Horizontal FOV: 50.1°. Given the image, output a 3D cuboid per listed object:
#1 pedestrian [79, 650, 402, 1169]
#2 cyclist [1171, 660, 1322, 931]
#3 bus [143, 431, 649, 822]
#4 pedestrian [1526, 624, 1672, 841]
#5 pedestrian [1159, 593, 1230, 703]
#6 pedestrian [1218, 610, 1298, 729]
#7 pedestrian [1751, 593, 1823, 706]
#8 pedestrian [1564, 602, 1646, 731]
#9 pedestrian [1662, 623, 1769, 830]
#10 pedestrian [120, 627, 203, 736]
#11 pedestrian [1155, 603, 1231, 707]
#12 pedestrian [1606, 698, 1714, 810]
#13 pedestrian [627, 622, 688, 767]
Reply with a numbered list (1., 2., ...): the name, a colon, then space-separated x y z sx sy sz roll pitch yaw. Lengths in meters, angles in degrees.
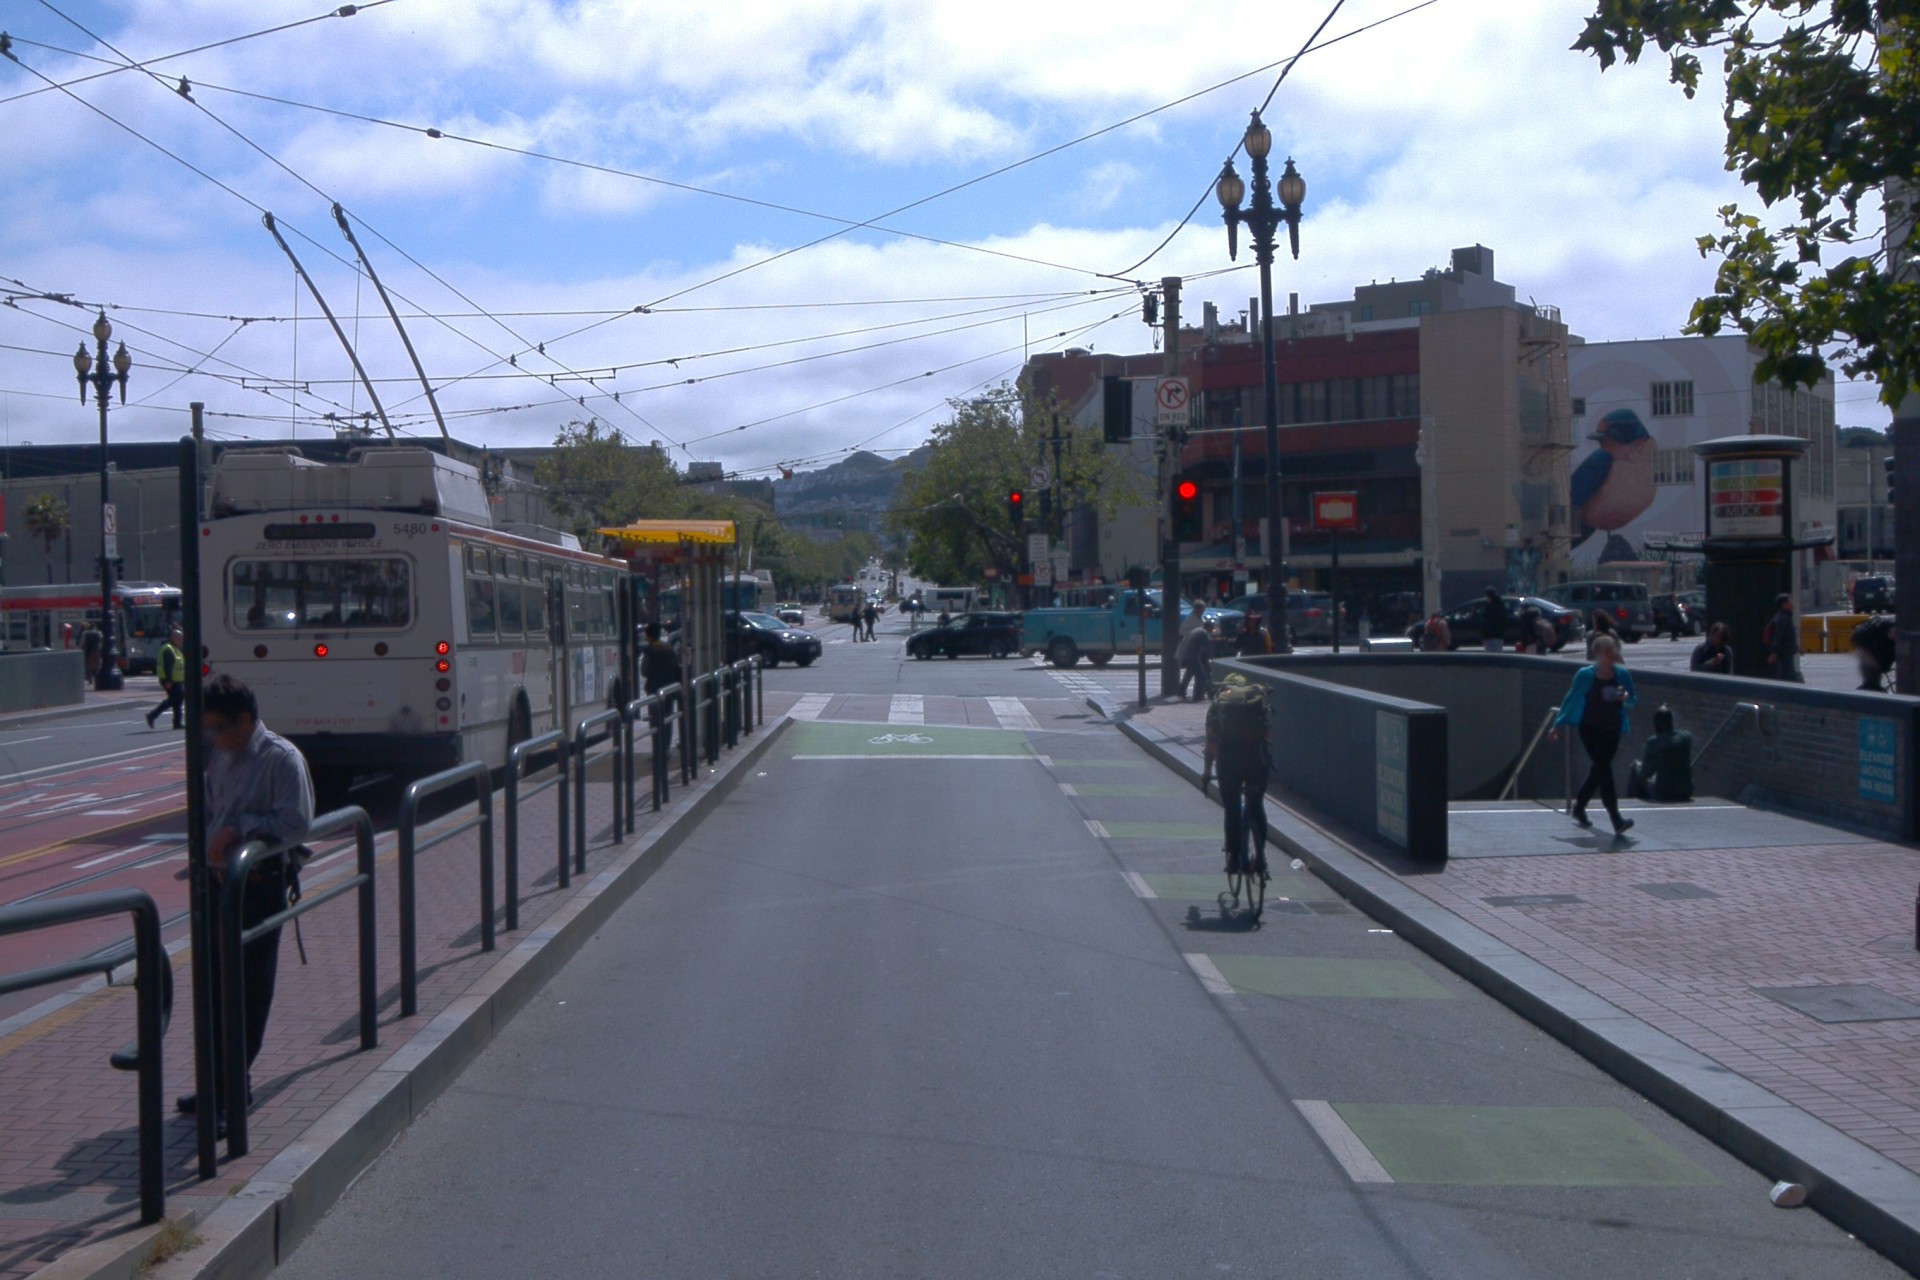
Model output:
1. pedestrian: -2.638 0.922 7.556 0.808 1.750 0.798 0 1 37
2. cyclist: 2.004 1.047 14.618 0.807 1.770 1.802 0 1 0
3. bus: -6.232 -0.201 25.458 3.070 3.670 12.173 0 1 -1
4. pedestrian: 5.316 0.744 17.153 0.749 1.740 1.054 0 1 -11
5. pedestrian: 4.249 0.131 37.127 1.058 1.960 1.084 0 1 19
6. pedestrian: 4.462 0.431 30.839 1.045 1.750 0.818 0 1 -1
7. pedestrian: 12.458 0.139 30.953 0.895 1.670 0.841 0 1 30
8. pedestrian: 8.868 0.349 28.283 0.755 1.740 0.858 0 1 -11
9. pedestrian: 8.218 0.922 22.385 0.779 2.200 0.956 0 1 -2
10. pedestrian: -13.580 0.692 34.994 1.092 1.828 0.878 0 1 -4
11. pedestrian: 4.158 0.263 36.592 1.083 1.820 0.884 0 1 30
12. pedestrian: 6.641 1.068 19.547 0.703 1.000 0.902 0 1 -1
13. pedestrian: -3.577 0.635 24.348 0.667 1.680 0.622 0 1 -5
